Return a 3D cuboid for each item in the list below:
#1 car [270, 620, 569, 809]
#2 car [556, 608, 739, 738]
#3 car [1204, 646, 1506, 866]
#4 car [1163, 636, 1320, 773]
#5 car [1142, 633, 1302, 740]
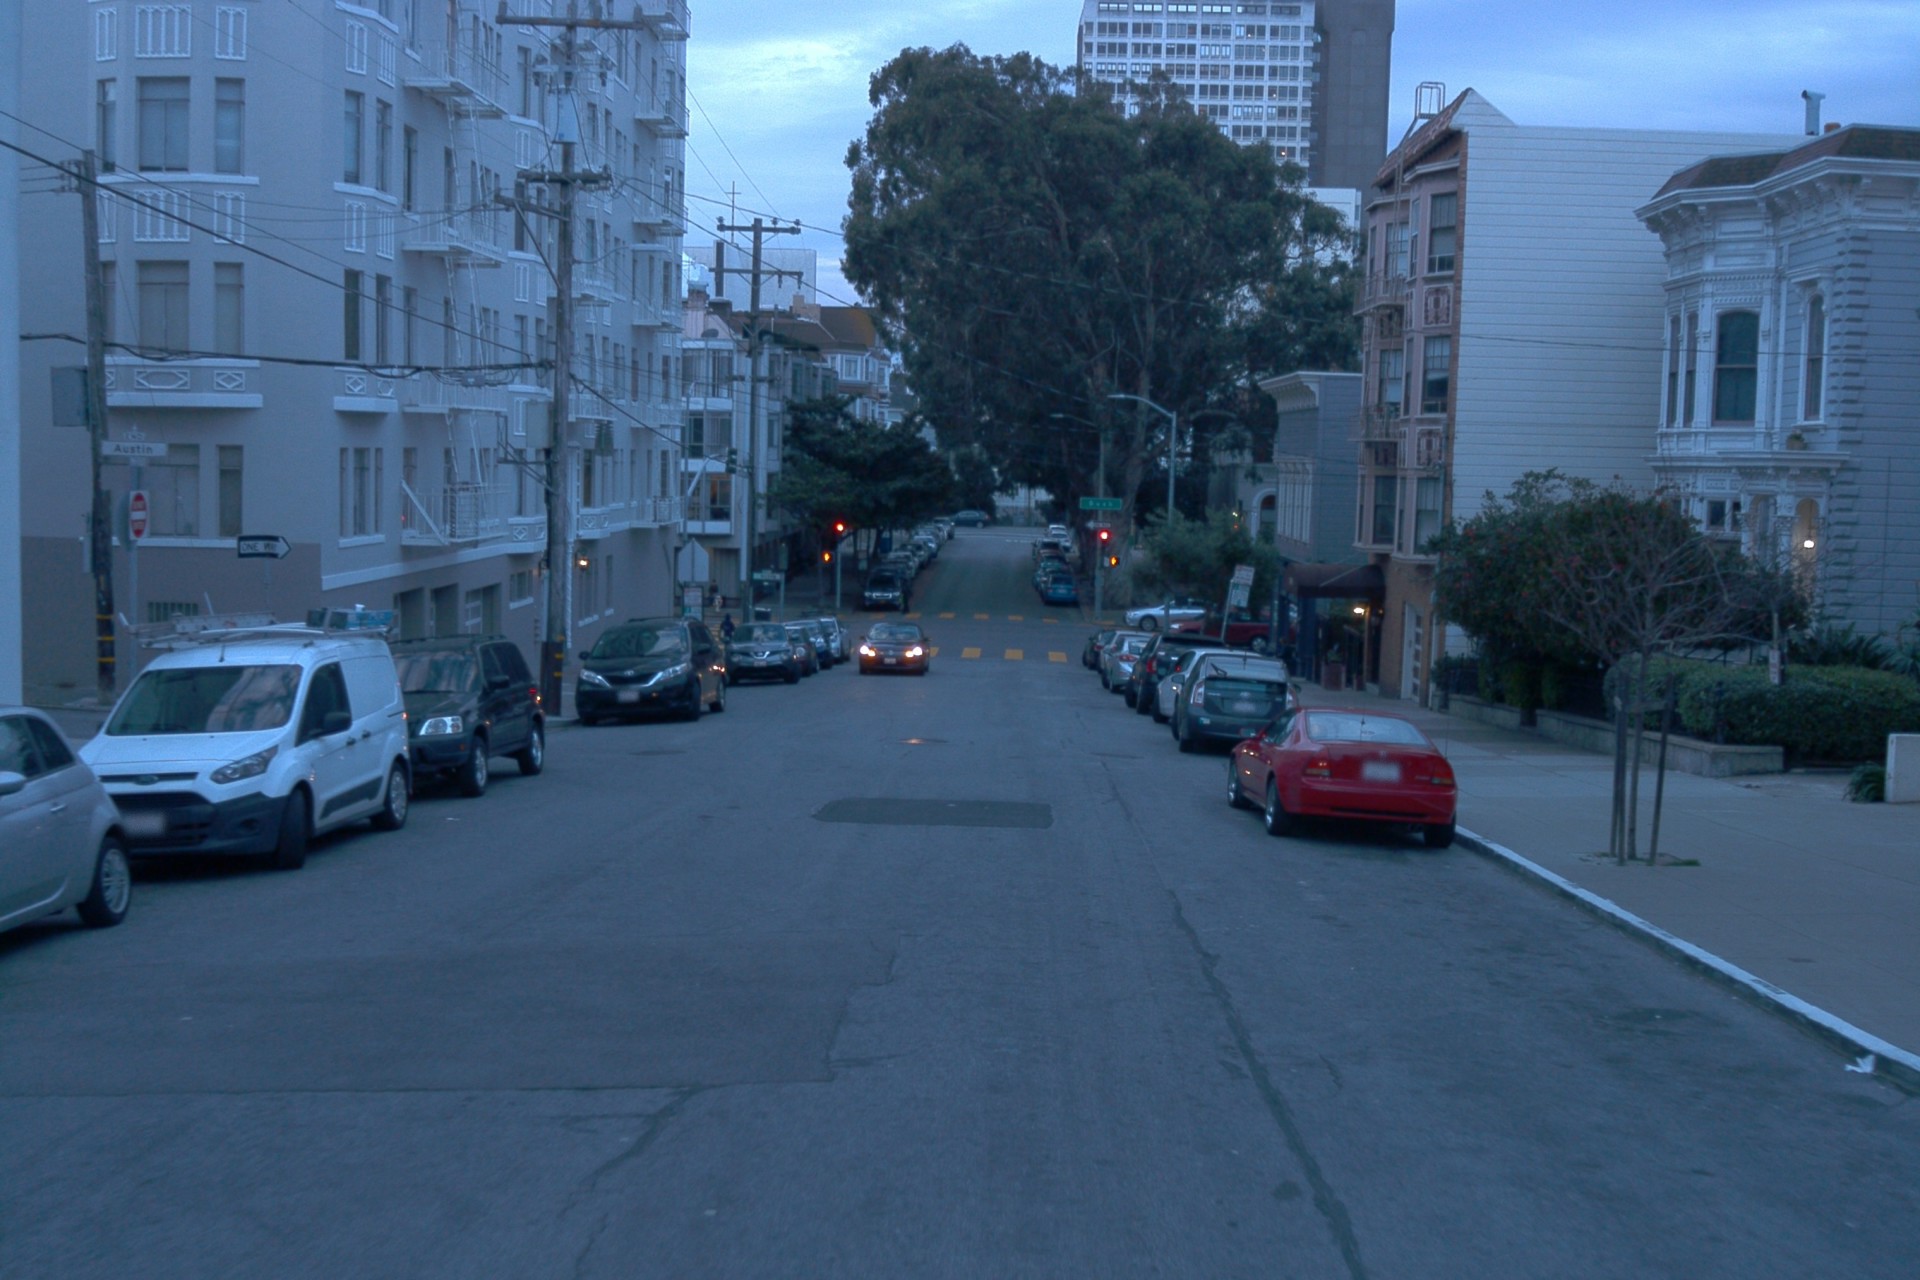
[{"bbox_3d":[-5.877,0.731,22.973,2.094,1.830,4.515,1,1,1],"label":"car"},{"bbox_3d":[-5.326,0.497,35.776,2.333,2.050,5.123,1,1,1],"label":"car"},{"bbox_3d":[3.890,1.072,21.118,2.118,1.890,4.539,1,1,-1],"label":"car"},{"bbox_3d":[4.210,0.907,31.342,2.066,1.830,4.431,1,1,4],"label":"car"},{"bbox_3d":[4.613,0.780,36.775,2.127,1.700,4.152,1,1,-3],"label":"car"}]
